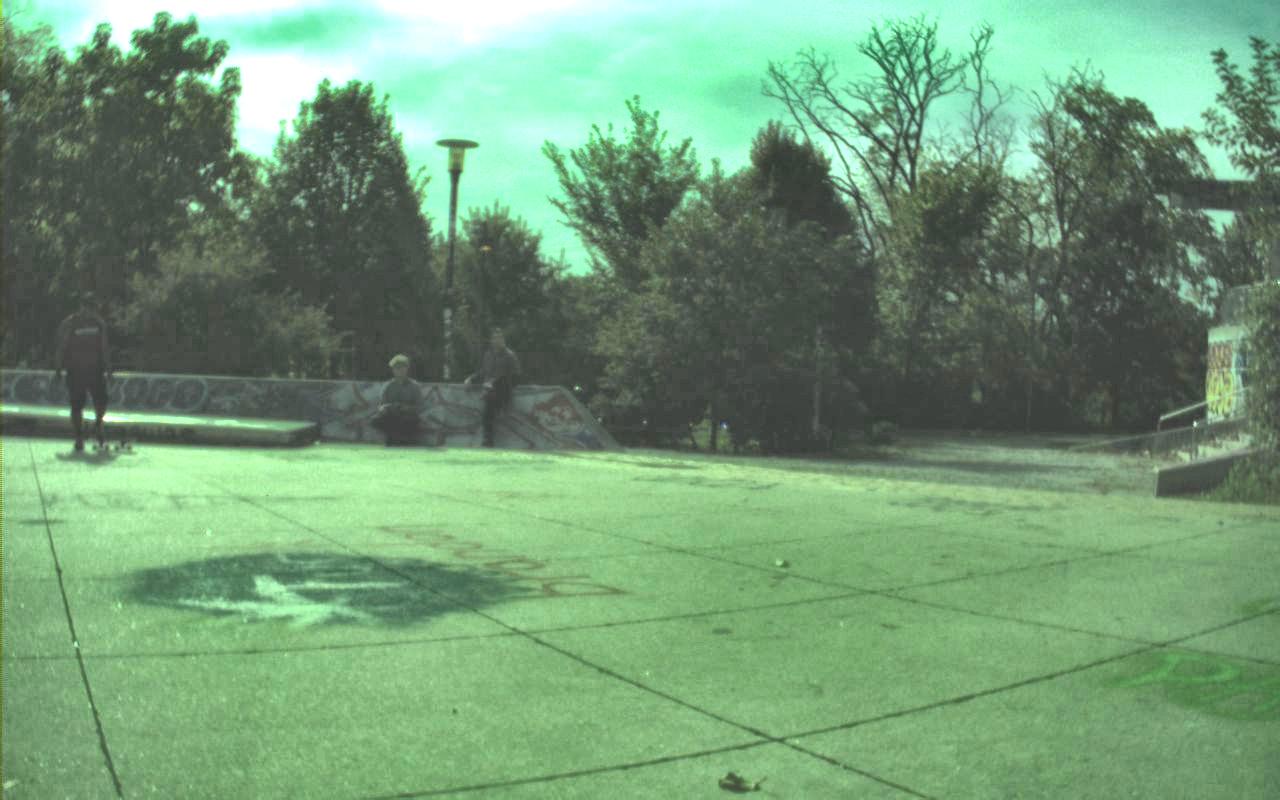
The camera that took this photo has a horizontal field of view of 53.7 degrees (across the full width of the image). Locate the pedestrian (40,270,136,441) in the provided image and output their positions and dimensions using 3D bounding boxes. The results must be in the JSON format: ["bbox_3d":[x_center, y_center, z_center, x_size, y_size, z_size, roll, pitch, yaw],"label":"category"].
[{"bbox_3d":[-5.742,-0.435,11.958,0.873,1.709,0.838,0,0,-10],"label":"pedestrian"}]

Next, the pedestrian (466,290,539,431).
[{"bbox_3d":[-1.702,-0.479,15.454,0.844,1.687,0.796,0,0,-9],"label":"pedestrian"}]
